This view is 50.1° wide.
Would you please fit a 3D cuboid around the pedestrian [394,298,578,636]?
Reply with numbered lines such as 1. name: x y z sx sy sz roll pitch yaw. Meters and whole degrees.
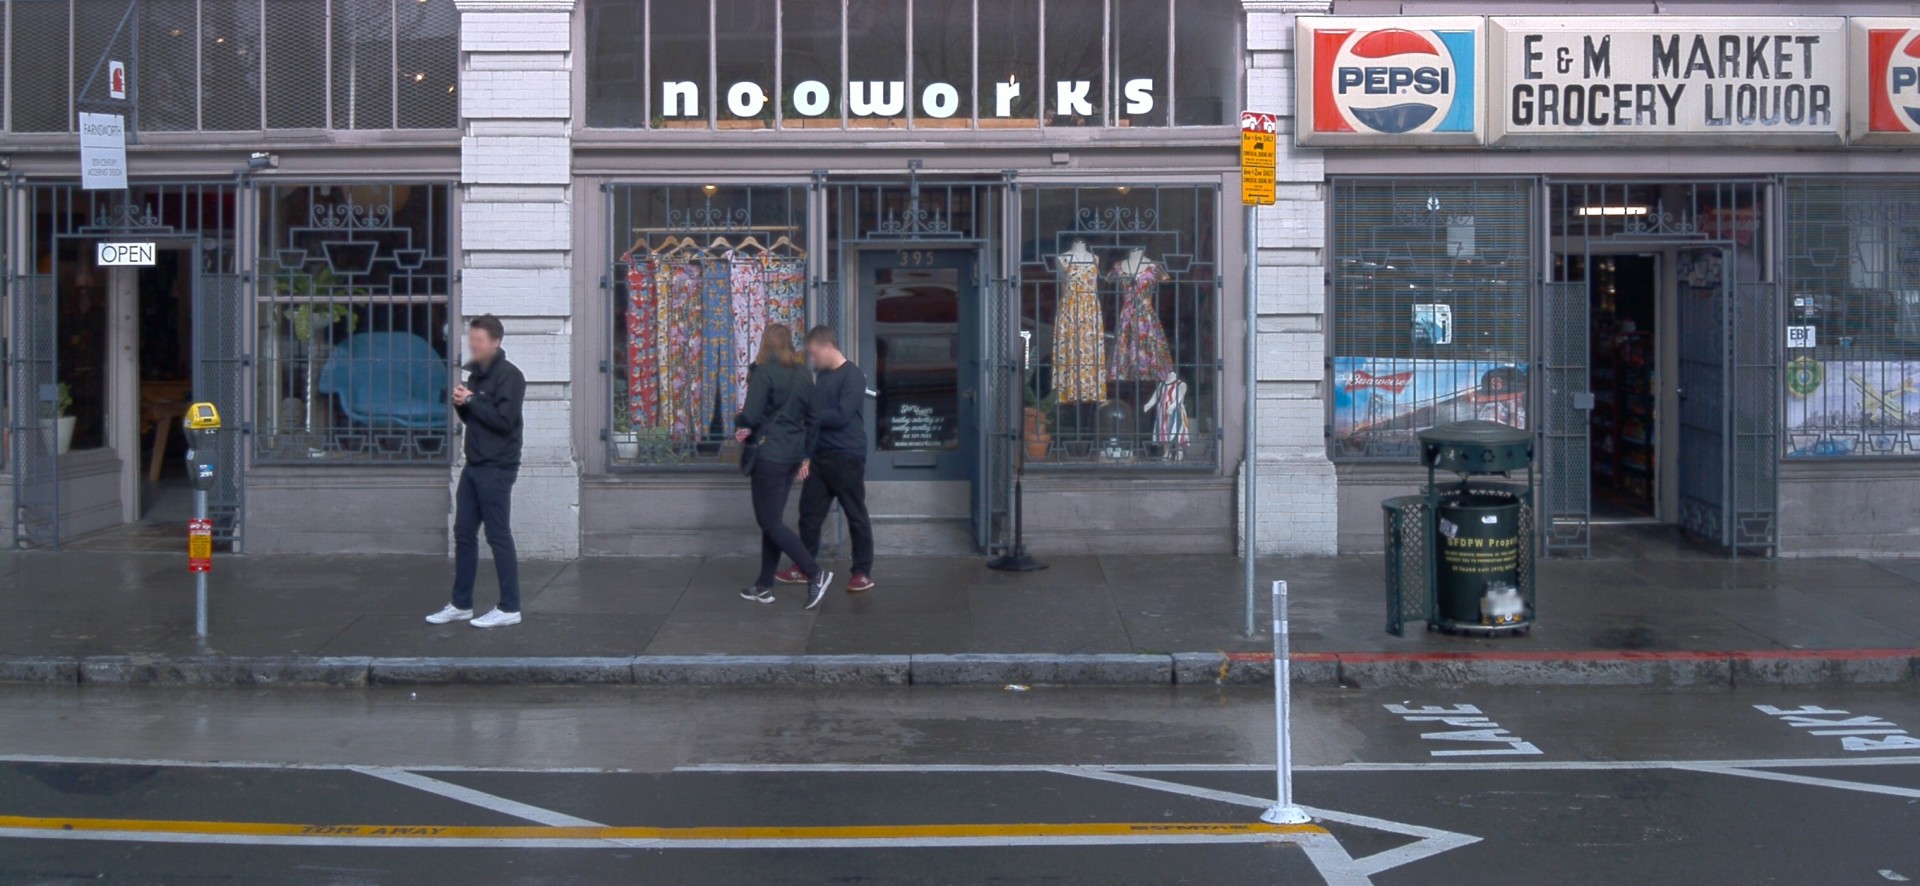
1. pedestrian: -2.785 0.099 12.141 1.015 1.855 0.878 -1 2 -11

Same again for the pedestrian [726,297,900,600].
1. pedestrian: -0.964 -0.007 13.311 0.934 1.815 0.963 -1 3 -17

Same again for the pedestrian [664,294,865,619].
1. pedestrian: -1.224 0.034 12.766 0.940 1.855 0.982 -1 3 -28
